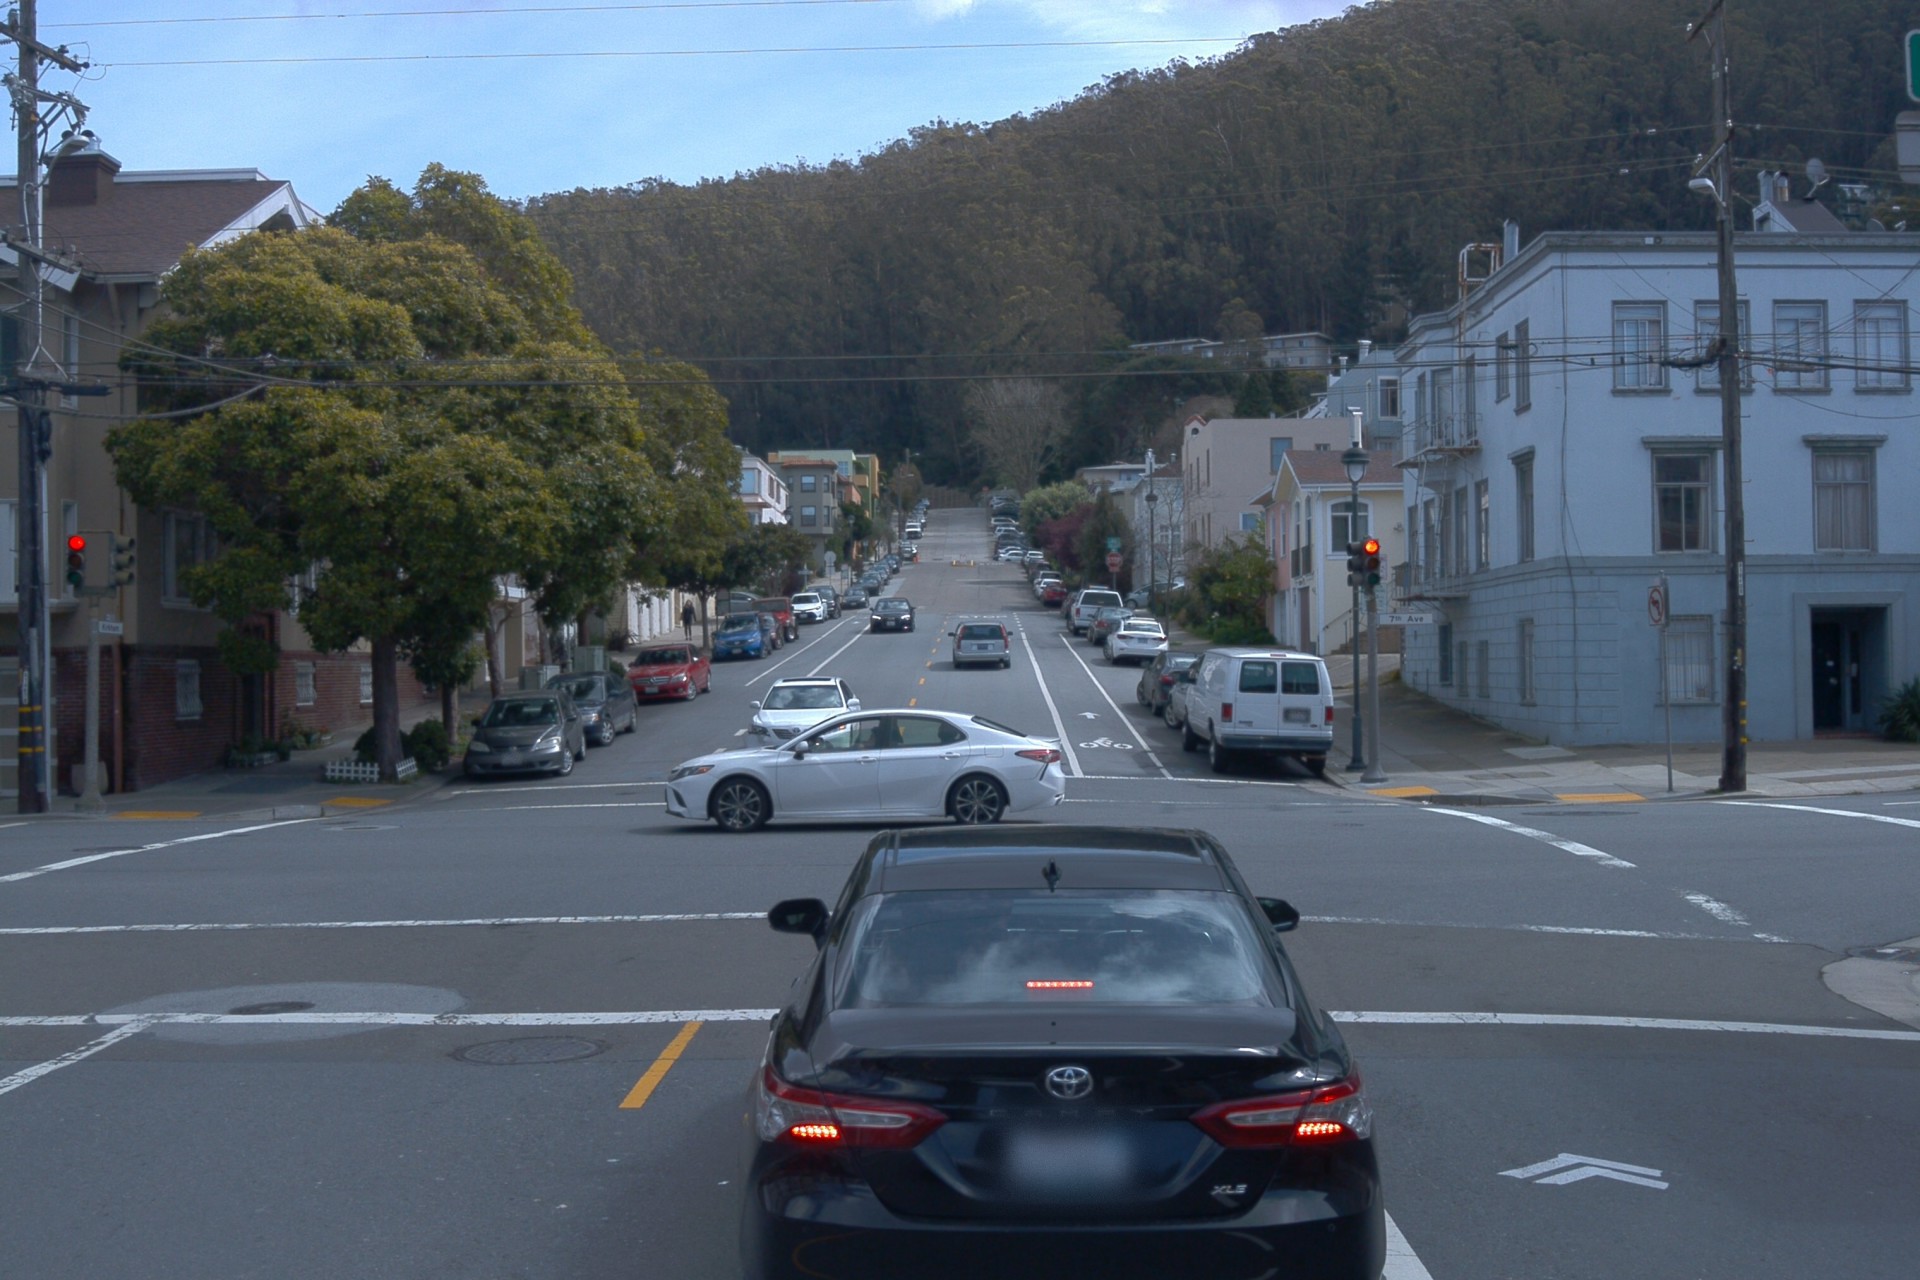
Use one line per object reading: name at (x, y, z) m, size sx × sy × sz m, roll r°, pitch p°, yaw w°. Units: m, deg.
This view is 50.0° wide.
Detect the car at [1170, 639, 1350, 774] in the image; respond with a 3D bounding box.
car at (5.312, 1.117, 37.232) m, size 2.299 × 2.250 × 5.313 m, roll 0°, pitch 0°, yaw -2°

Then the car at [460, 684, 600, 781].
car at (-7.707, 1.619, 37.253) m, size 1.836 × 1.560 × 4.133 m, roll 0°, pitch 0°, yaw -3°

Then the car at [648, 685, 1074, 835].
car at (-1.137, 1.410, 24.928) m, size 4.938 × 1.690 × 2.136 m, roll 0°, pitch 0°, yaw 0°

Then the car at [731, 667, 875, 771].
car at (-2.833, 1.407, 38.233) m, size 2.209 × 1.750 × 4.541 m, roll 0°, pitch 0°, yaw 1°

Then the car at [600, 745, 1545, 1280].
car at (0.282, 1.304, 7.305) m, size 2.249 × 1.620 × 4.798 m, roll 0°, pitch 0°, yaw 0°
